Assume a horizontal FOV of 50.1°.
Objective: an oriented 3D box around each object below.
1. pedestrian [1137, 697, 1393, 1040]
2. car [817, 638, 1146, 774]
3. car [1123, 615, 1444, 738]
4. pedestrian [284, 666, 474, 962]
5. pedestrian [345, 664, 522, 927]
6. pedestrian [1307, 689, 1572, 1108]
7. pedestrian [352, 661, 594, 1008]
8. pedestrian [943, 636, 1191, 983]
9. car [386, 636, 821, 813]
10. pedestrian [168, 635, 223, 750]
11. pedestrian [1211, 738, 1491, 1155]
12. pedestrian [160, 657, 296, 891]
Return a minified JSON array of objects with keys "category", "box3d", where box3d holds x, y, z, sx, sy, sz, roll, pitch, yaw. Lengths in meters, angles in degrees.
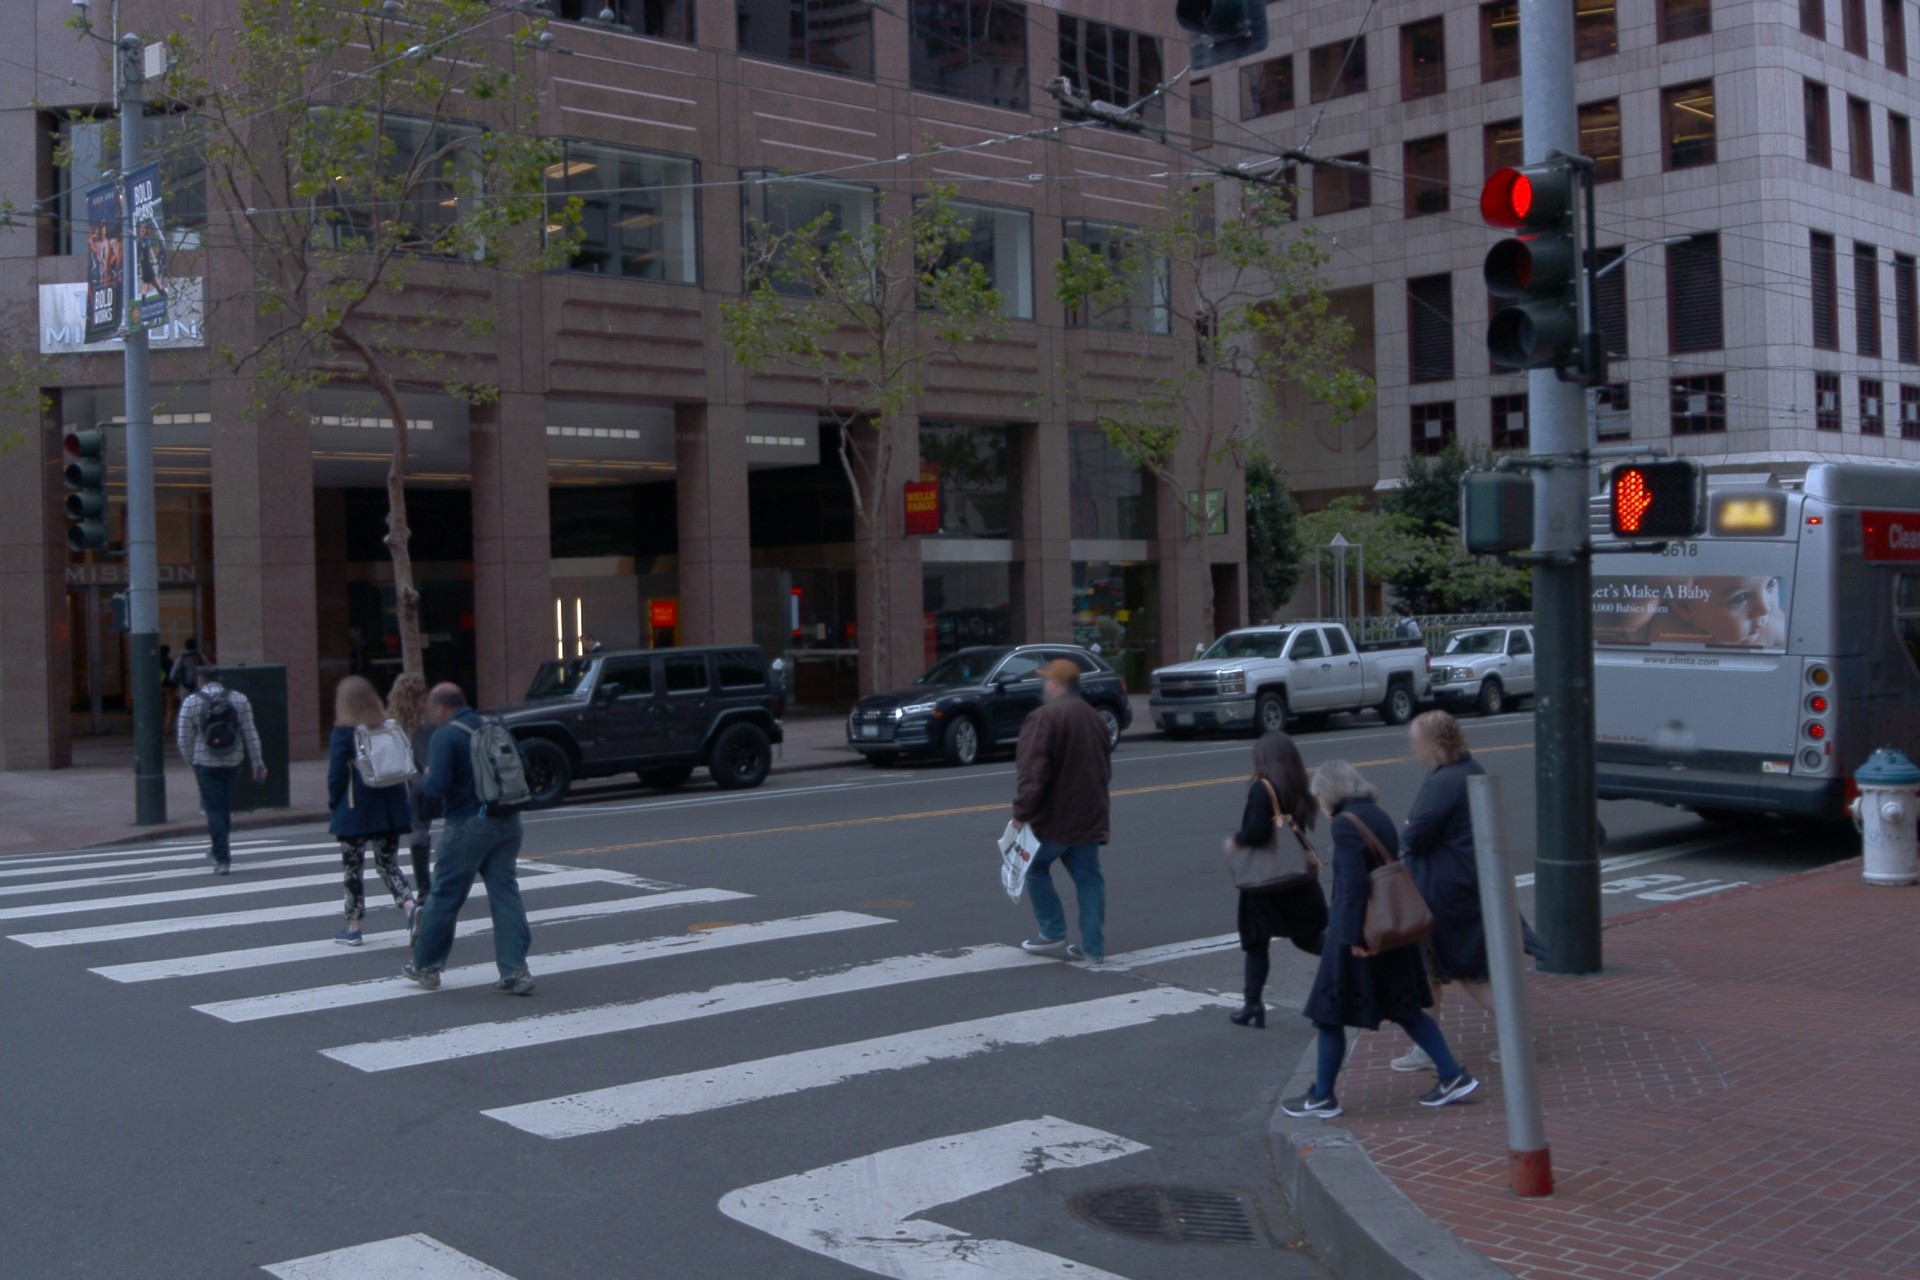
[{"category":"pedestrian","box3d":[1.567,1.122,10.566,0.971,1.606,0.869,0,0,45]},{"category":"car","box3d":[0.370,0.873,29.786,4.539,1.770,2.126,-1,1,-43]},{"category":"car","box3d":[5.536,0.528,34.593,5.778,1.890,2.385,-1,1,-45]},{"category":"pedestrian","box3d":[-3.623,1.039,12.806,0.990,1.726,0.748,0,0,45]},{"category":"pedestrian","box3d":[-3.683,1.046,14.373,0.841,1.726,0.975,0,0,-41]},{"category":"pedestrian","box3d":[2.142,1.094,9.179,0.920,1.716,0.737,0,0,38]},{"category":"pedestrian","box3d":[-2.669,1.013,11.283,1.010,1.776,0.829,0,0,36]},{"category":"pedestrian","box3d":[0.642,0.965,12.452,0.950,1.968,1.152,0,0,-44]},{"category":"car","box3d":[-4.346,0.947,25.596,4.963,1.950,2.149,-1,1,-43]},{"category":"pedestrian","box3d":[-12.113,0.811,32.599,0.780,1.775,1.054,0,0,-19]},{"category":"pedestrian","box3d":[1.636,1.221,8.582,0.898,1.556,0.776,0,0,36]},{"category":"pedestrian","box3d":[-5.995,1.061,16.820,0.777,1.816,1.066,0,0,-36]}]
